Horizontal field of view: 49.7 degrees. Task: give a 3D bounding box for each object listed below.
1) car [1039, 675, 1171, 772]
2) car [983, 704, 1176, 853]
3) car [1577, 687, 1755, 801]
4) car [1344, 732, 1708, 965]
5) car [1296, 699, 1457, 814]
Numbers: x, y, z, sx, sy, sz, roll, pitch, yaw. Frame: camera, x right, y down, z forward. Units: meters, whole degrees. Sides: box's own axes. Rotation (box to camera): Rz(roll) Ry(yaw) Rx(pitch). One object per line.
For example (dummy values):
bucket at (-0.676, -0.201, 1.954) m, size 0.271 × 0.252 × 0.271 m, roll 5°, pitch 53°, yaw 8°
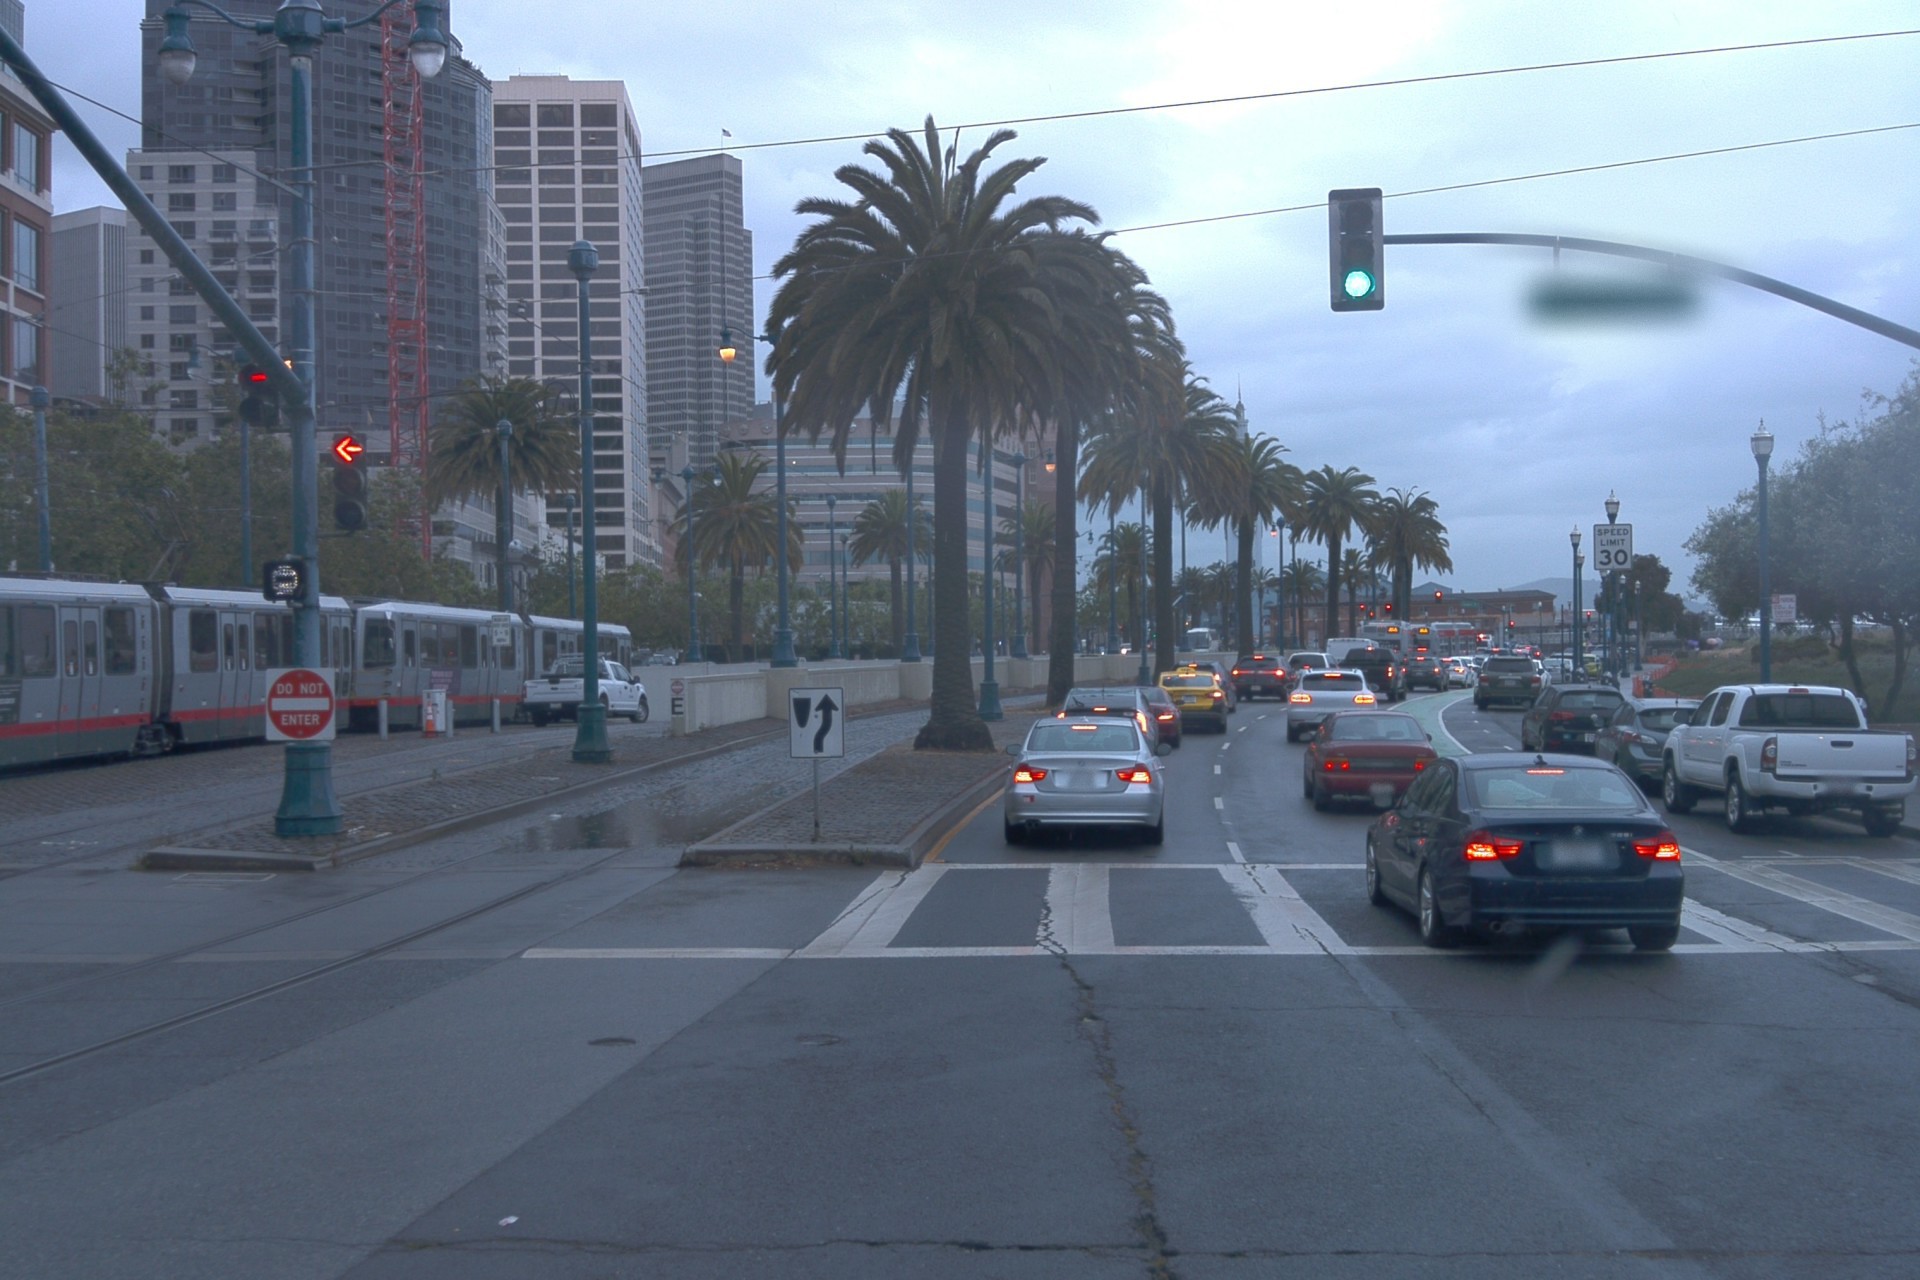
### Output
car at (2.628, 1.414, 36.558) m, size 2.066 × 1.580 × 4.627 m, roll 0°, pitch -1°, yaw 7°
car at (1.493, 1.554, 24.548) m, size 2.066 × 1.510 × 4.626 m, roll 0°, pitch -1°, yaw 5°
car at (10.961, 1.569, 32.489) m, size 2.029 × 1.610 × 4.250 m, roll 0°, pitch -1°, yaw 10°
car at (4.247, 1.514, 16.271) m, size 1.869 × 1.450 × 4.344 m, roll 0°, pitch -1°, yaw 3°
car at (5.776, 1.581, 29.156) m, size 1.923 × 1.450 × 3.945 m, roll 0°, pitch -1°, yaw 7°
